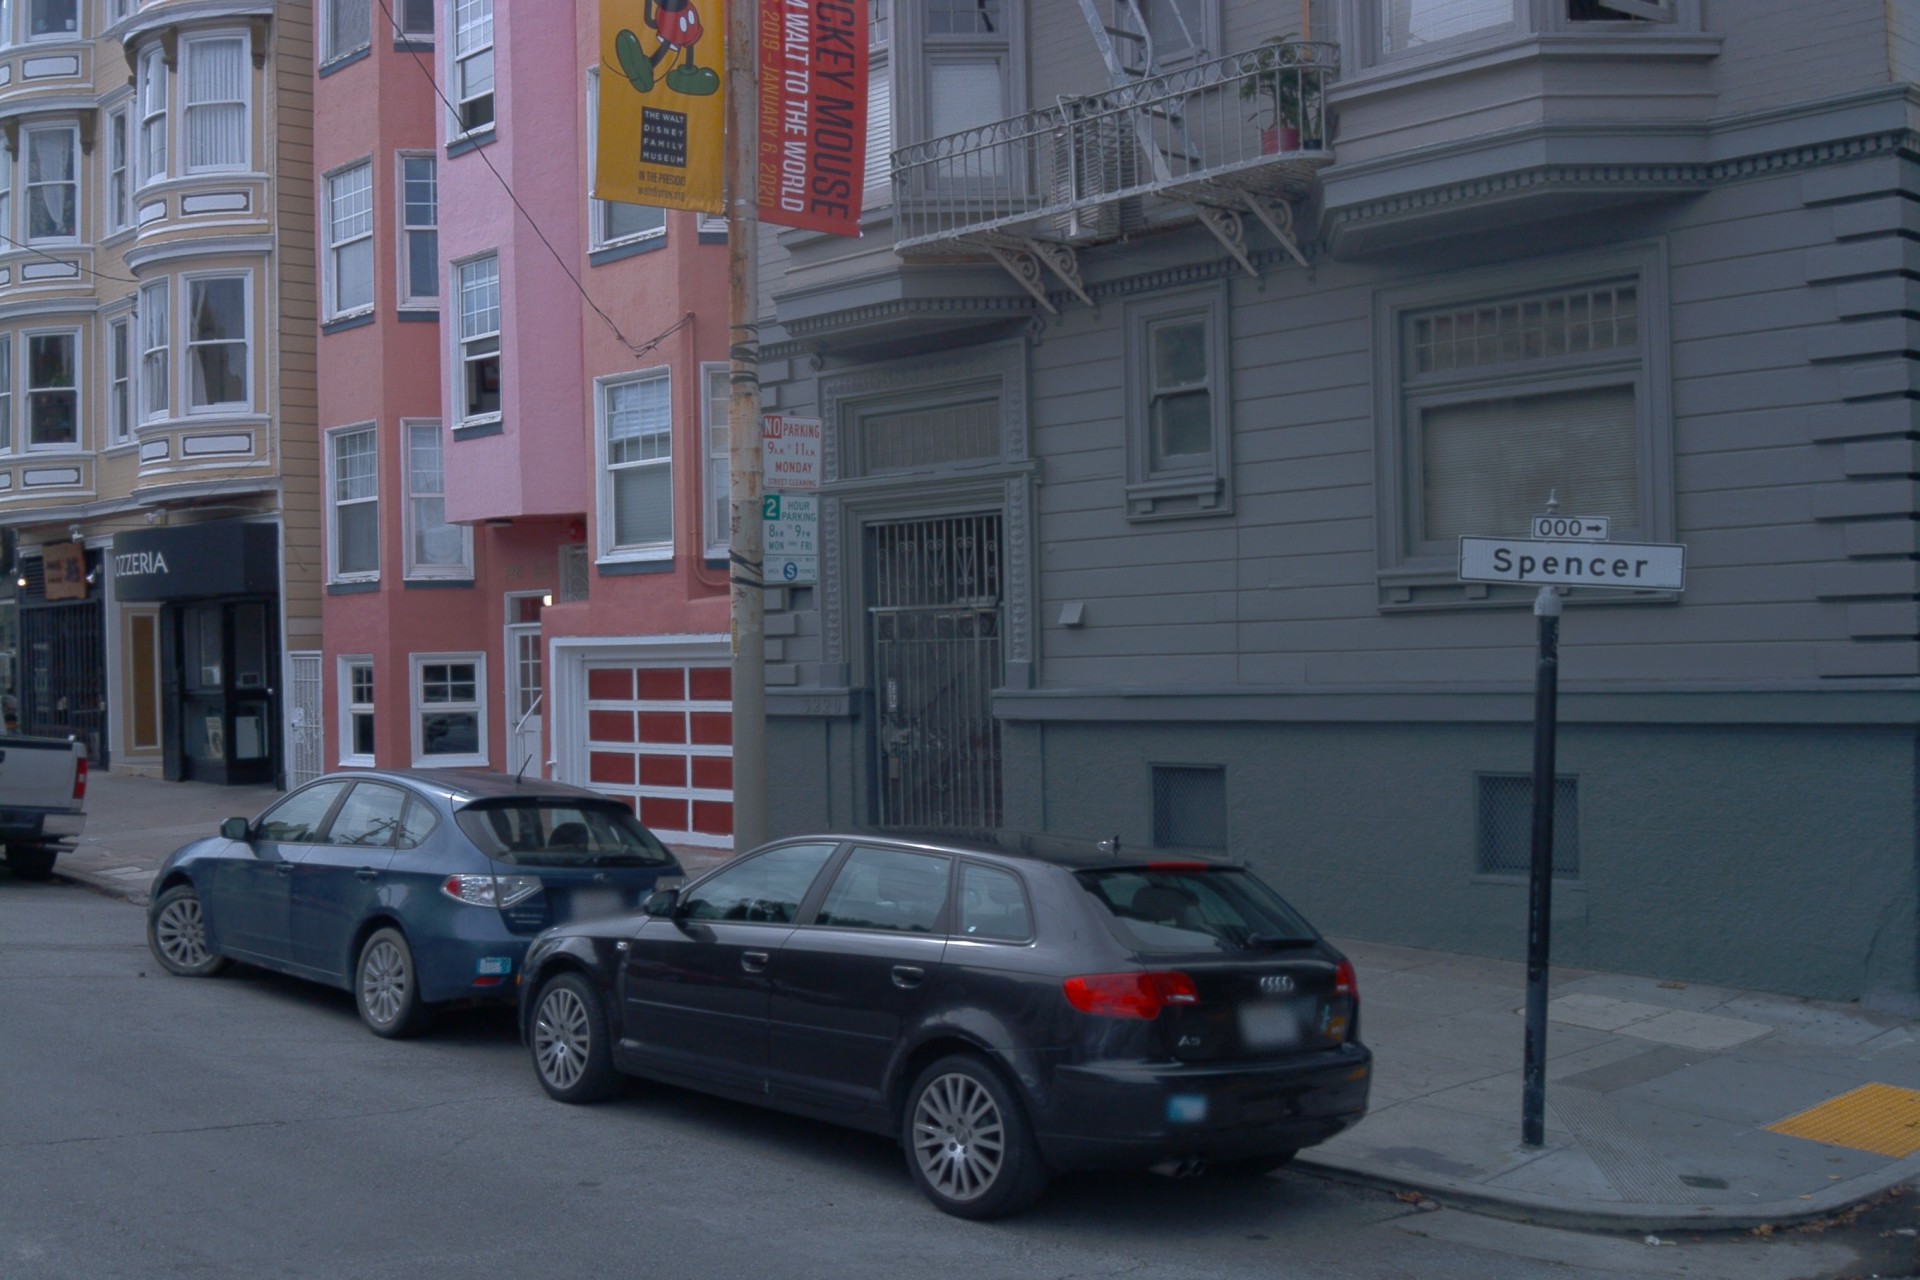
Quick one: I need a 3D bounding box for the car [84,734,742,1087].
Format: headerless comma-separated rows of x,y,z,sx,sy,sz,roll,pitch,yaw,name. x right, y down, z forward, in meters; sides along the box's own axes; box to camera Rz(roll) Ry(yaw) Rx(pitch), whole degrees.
-3.563,1.498,12.932,2.014,1.570,4.483,-1,1,-45,car

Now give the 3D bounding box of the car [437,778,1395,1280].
-0.414,1.538,9.470,1.934,1.470,4.382,-1,1,-44,car
